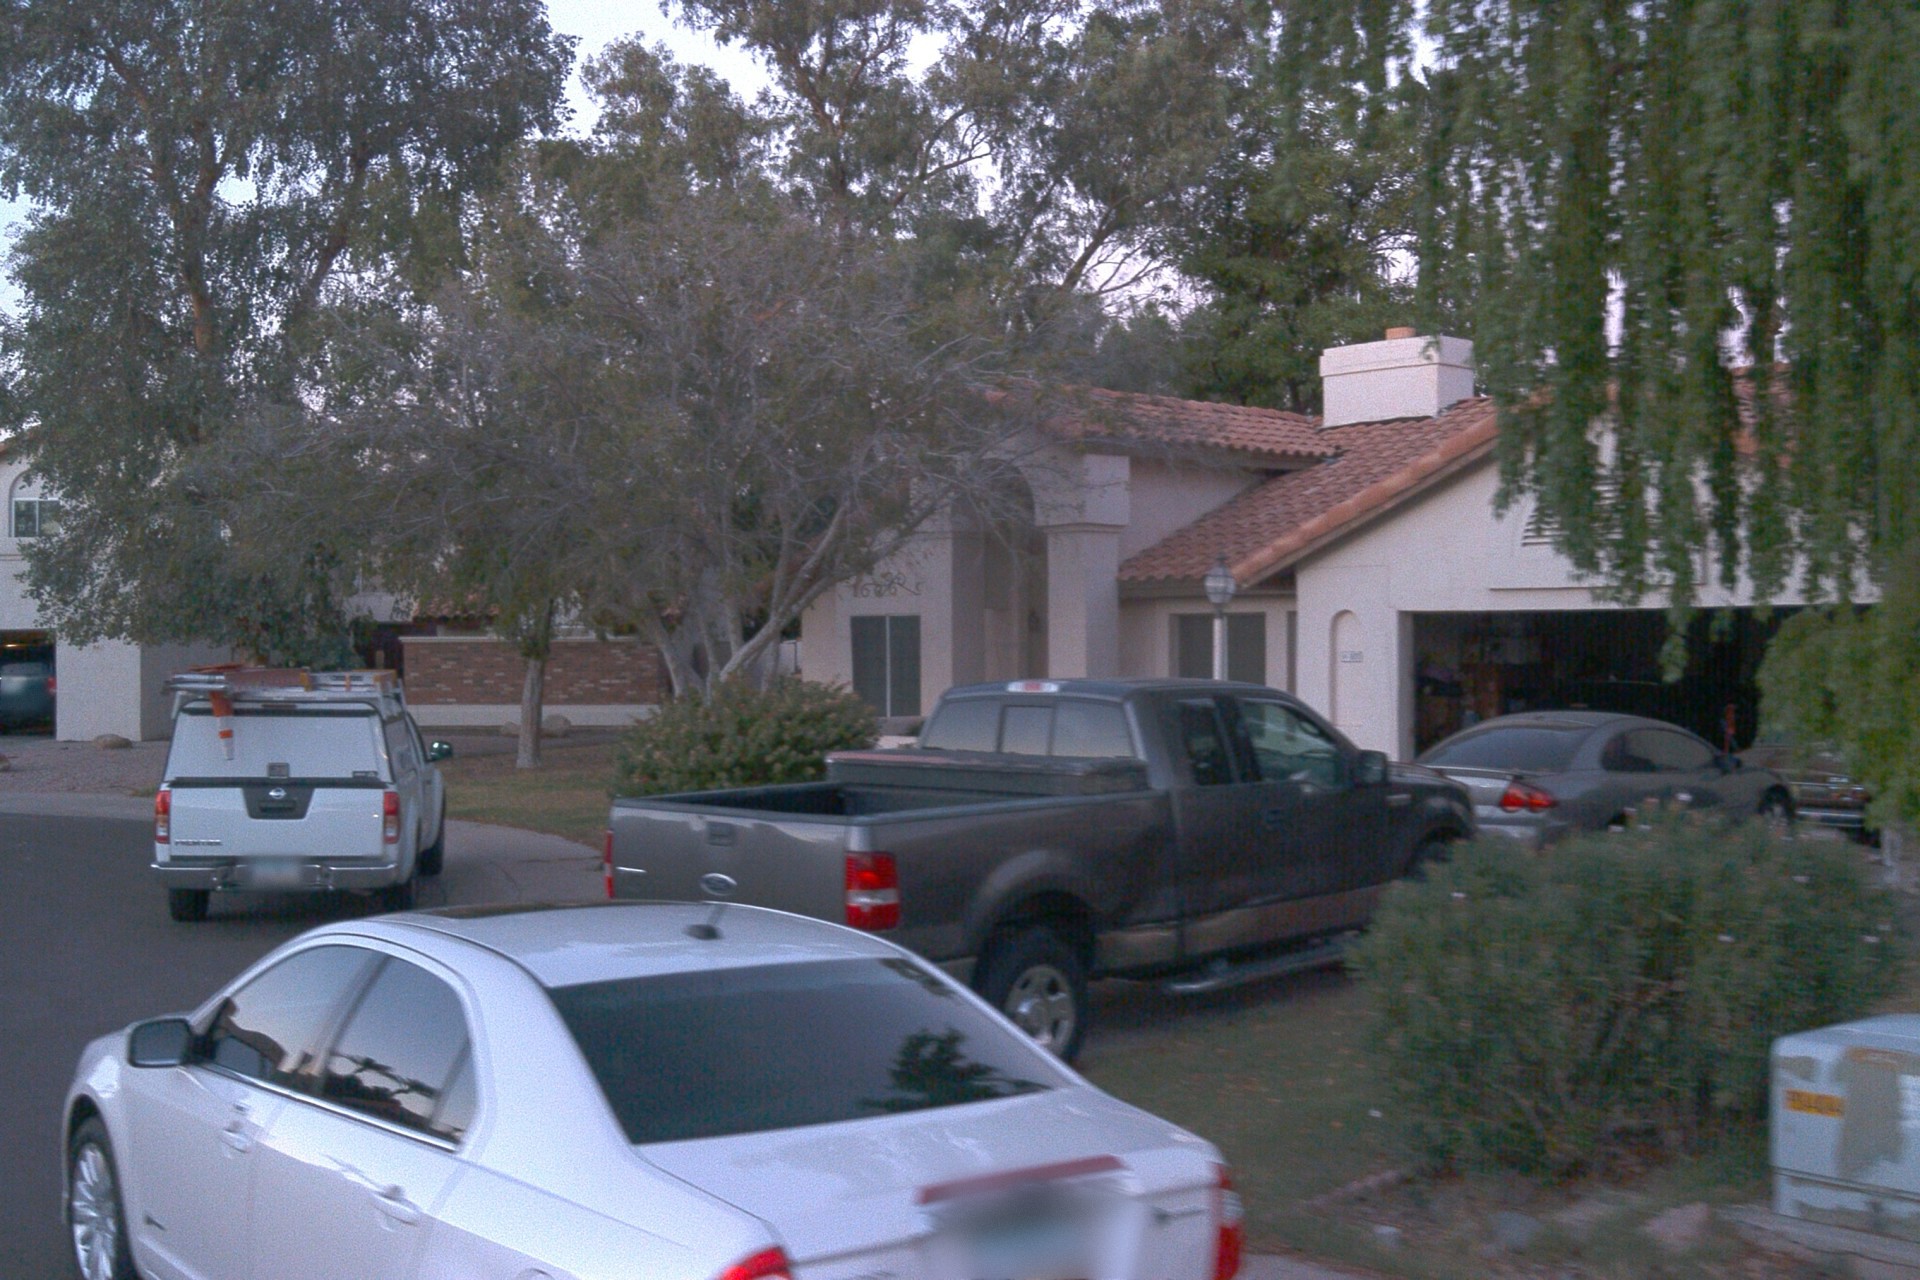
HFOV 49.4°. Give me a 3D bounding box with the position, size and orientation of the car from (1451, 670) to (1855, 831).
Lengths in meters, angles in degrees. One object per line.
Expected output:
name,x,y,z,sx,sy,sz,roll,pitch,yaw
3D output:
car,7.293,1.071,21.739,4.447,1.490,2.011,1,-1,-41

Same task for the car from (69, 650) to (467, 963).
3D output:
car,-5.396,1.152,17.180,2.217,2.100,6.087,0,-1,-10

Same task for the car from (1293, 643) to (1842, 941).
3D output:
car,4.771,1.015,15.936,2.034,1.930,4.722,0,-1,44

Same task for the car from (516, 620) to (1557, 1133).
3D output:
car,0.735,1.006,11.511,2.513,2.100,5.815,0,-1,43
